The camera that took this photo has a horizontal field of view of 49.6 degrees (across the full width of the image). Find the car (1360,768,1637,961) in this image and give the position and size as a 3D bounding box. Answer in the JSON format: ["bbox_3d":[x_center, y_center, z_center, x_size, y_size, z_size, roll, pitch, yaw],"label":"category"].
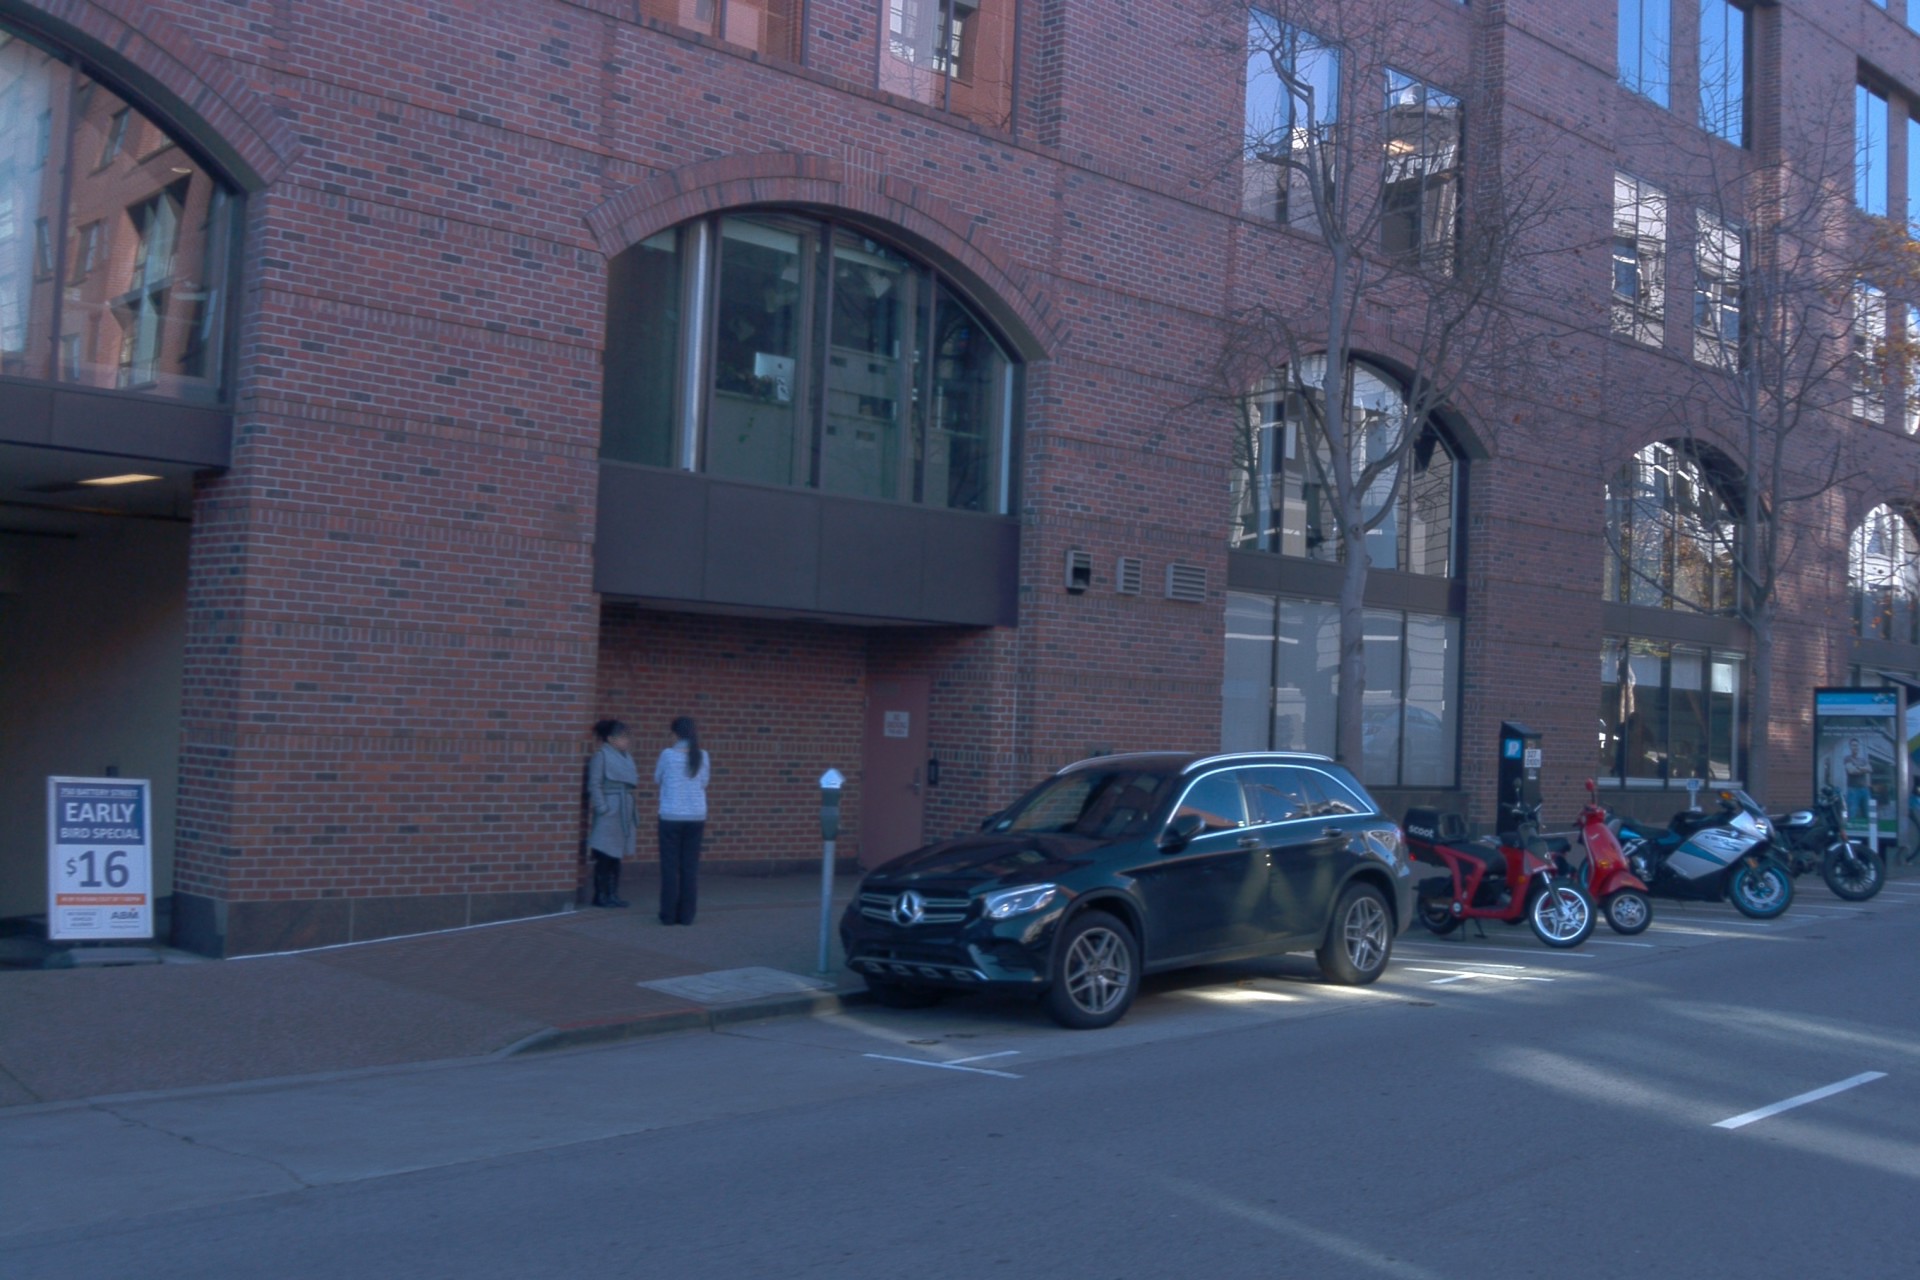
[{"bbox_3d":[4.496,1.833,17.447,1.058,1.400,2.003,2,-1,-39],"label":"car"}]

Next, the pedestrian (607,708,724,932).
[{"bbox_3d":[-2.290,1.373,16.113,0.728,1.670,0.730,1,-1,-21],"label":"pedestrian"}]

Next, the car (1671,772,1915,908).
[{"bbox_3d":[8.644,2.045,21.614,2.157,1.210,0.934,0,-1,44],"label":"car"}]

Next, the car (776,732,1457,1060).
[{"bbox_3d":[1.240,1.571,14.323,2.084,1.740,4.749,0,-1,45],"label":"car"}]

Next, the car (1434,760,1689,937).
[{"bbox_3d":[5.299,1.800,18.380,0.964,1.370,1.946,2,-1,-42],"label":"car"}]

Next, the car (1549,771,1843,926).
[{"bbox_3d":[7.033,1.952,19.934,1.096,1.250,2.419,2,-1,-45],"label":"car"}]

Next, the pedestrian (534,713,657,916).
[{"bbox_3d":[-2.937,1.385,16.745,0.627,1.570,0.715,0,-1,45],"label":"pedestrian"}]
